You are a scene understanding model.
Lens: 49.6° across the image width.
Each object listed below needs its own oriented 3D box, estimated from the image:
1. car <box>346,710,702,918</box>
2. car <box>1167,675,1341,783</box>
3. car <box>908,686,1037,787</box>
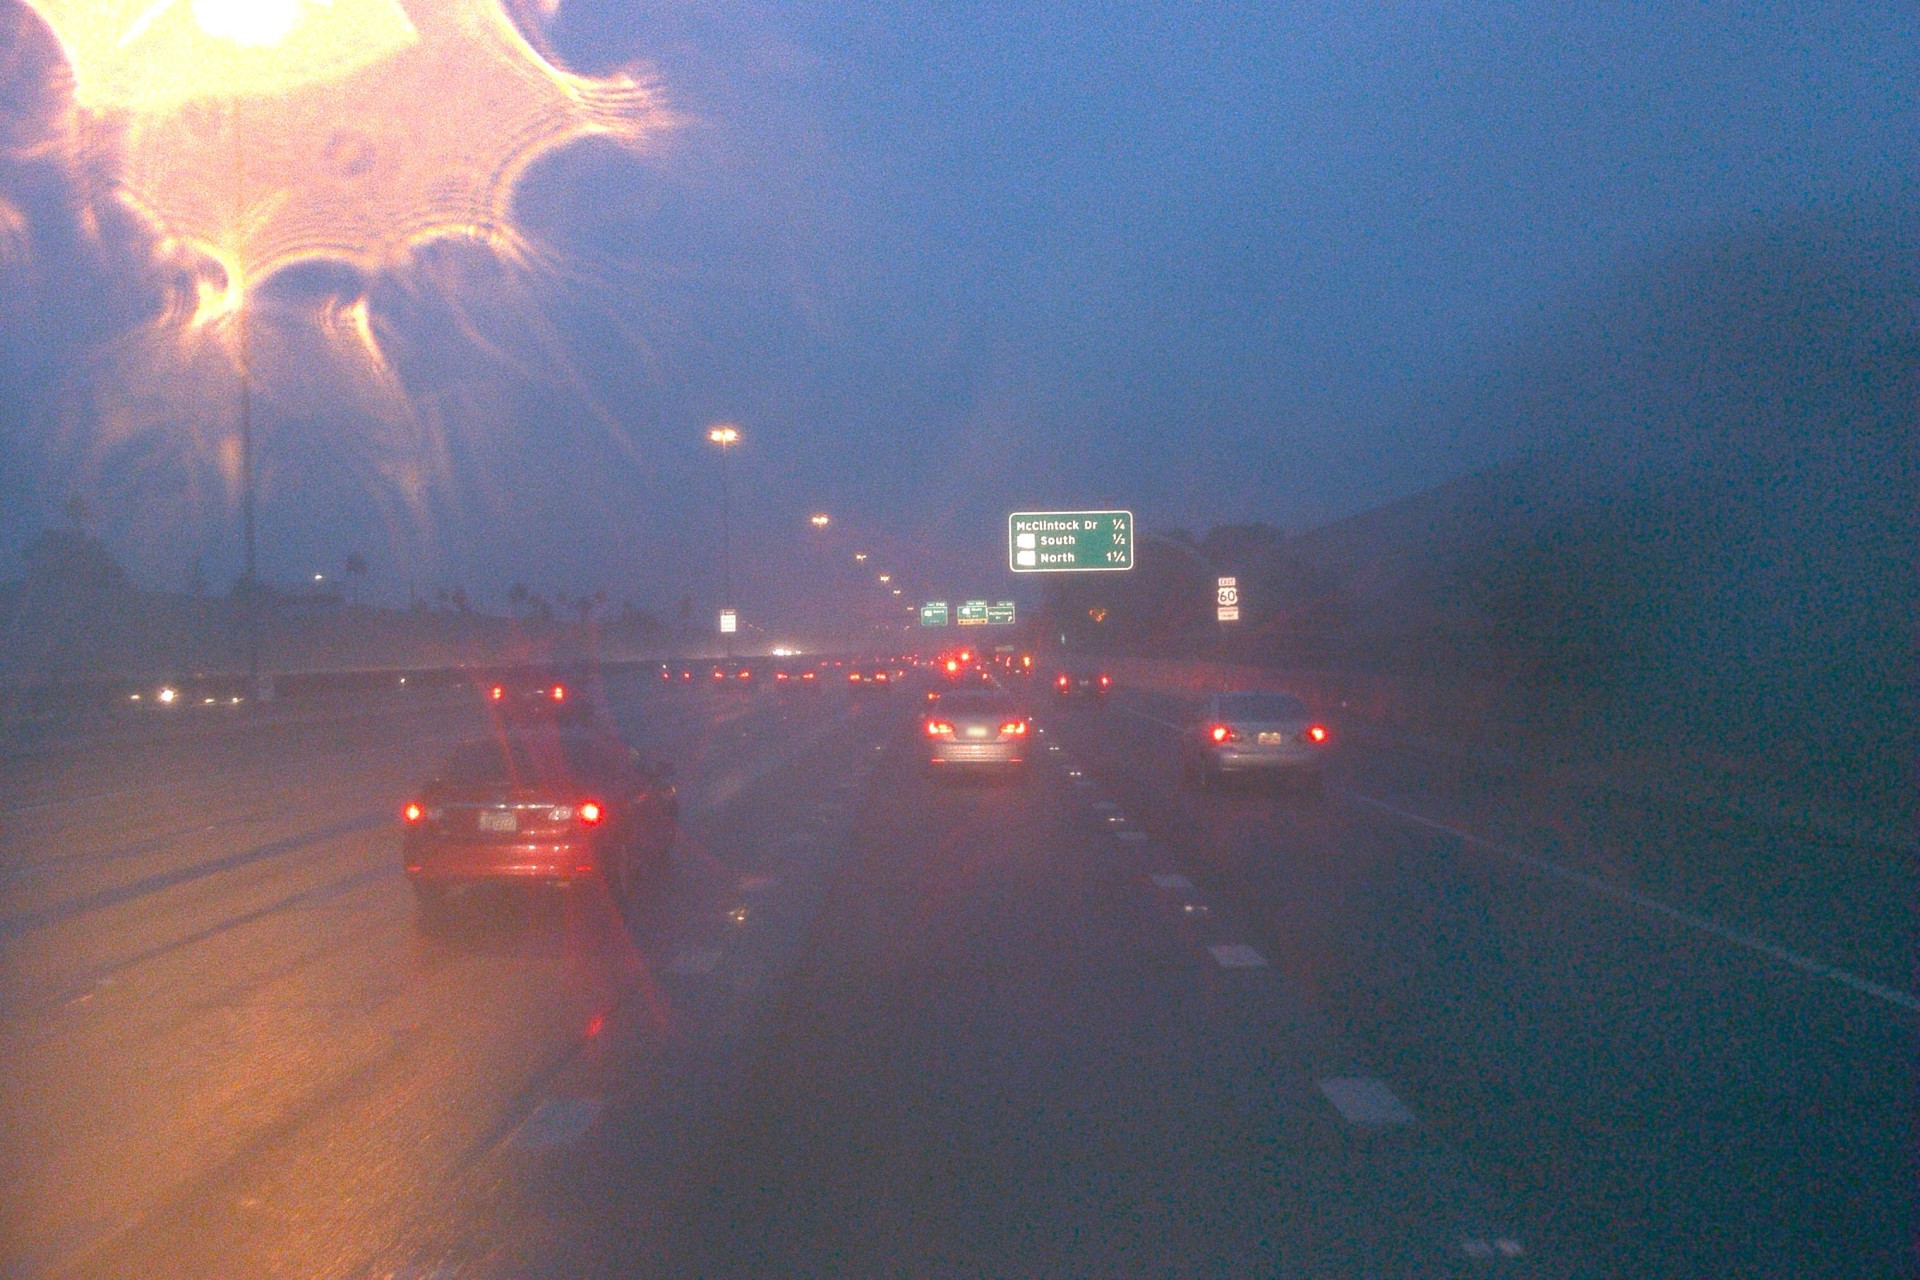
[{"bbox_3d":[-3.690,1.438,18.505,2.168,1.490,4.575,0,0,1],"label":"car"},{"bbox_3d":[4.323,1.279,31.154,2.013,1.440,4.411,0,0,0],"label":"car"},{"bbox_3d":[0.216,1.526,33.890,1.966,1.470,4.133,0,0,1],"label":"car"}]
